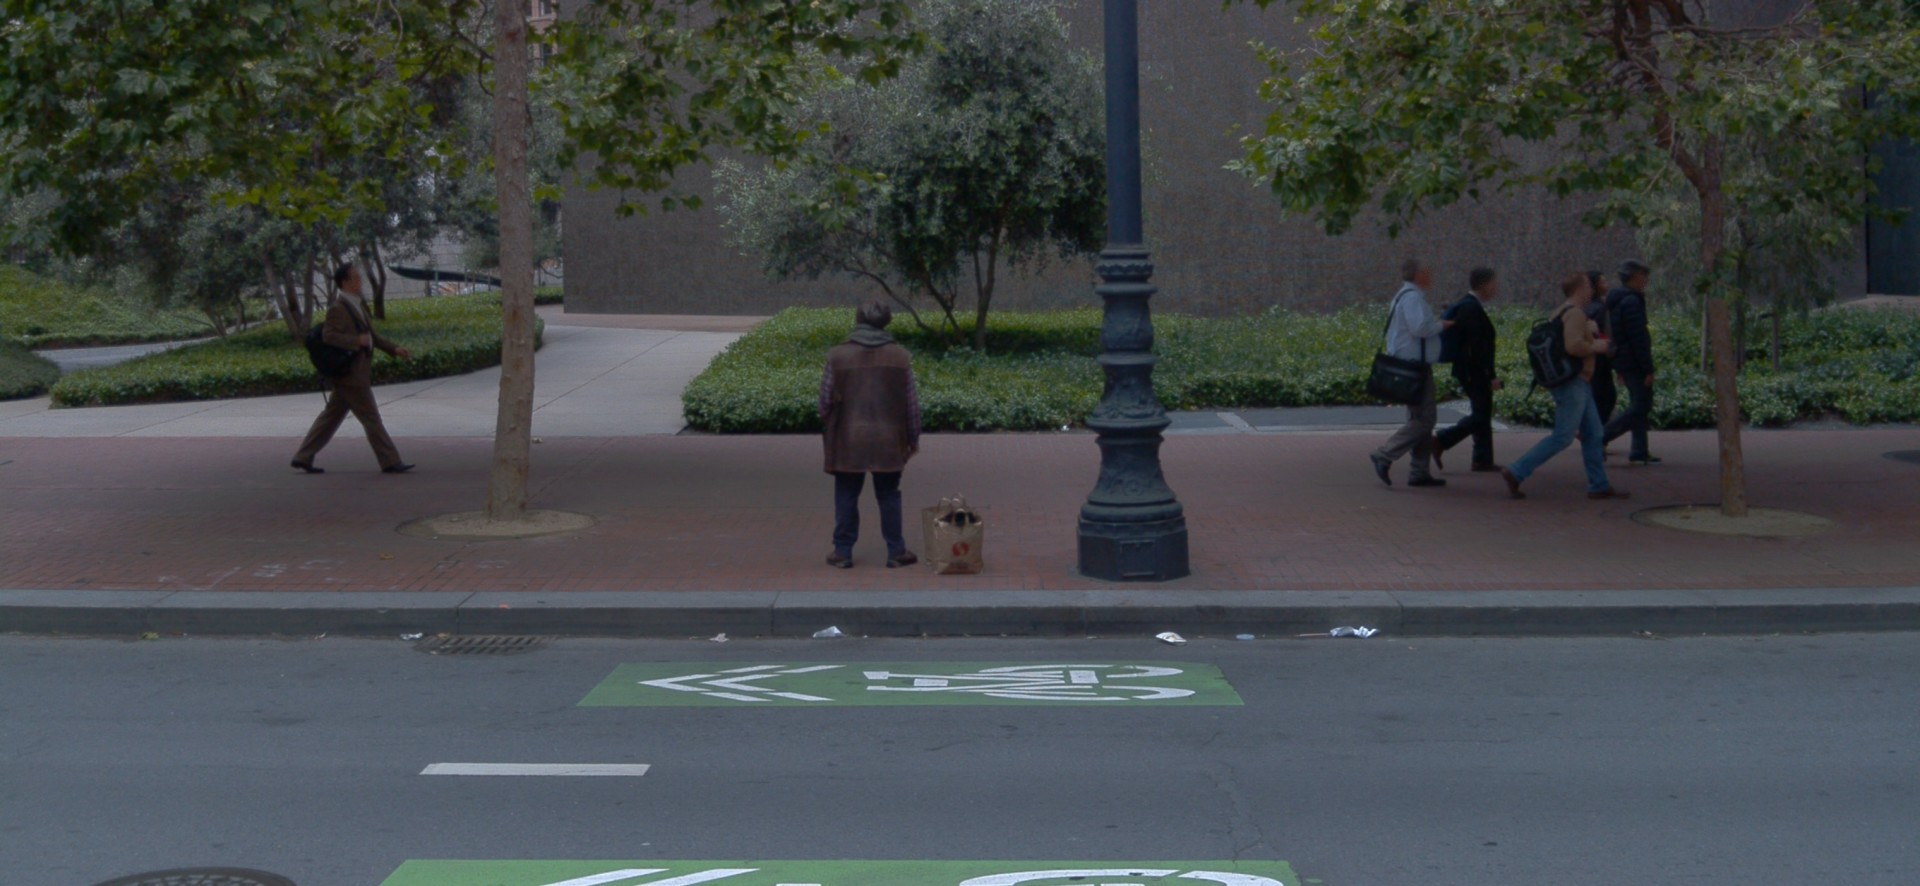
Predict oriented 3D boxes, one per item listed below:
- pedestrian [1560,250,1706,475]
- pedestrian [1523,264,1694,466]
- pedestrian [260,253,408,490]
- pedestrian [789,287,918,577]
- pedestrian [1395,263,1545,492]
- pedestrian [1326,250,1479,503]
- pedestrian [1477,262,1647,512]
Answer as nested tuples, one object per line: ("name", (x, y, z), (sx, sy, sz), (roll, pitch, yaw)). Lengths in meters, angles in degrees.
("pedestrian", (5.627, -0.700, 17.375), (0.935, 1.827, 0.894), (0, 2, 0))
("pedestrian", (5.637, -0.704, 18.068), (1.173, 1.697, 0.931), (0, 2, -2))
("pedestrian", (-5.203, -0.631, 17.280), (1.099, 1.877, 1.031), (-1, 2, -13))
("pedestrian", (-0.678, -0.094, 13.065), (0.791, 1.757, 0.642), (0, 2, -5))
("pedestrian", (4.154, -0.556, 16.925), (1.012, 1.797, 0.887), (0, 2, 1))
("pedestrian", (3.434, -0.548, 16.162), (1.013, 1.897, 0.997), (0, 2, 2))
("pedestrian", (4.539, -0.449, 15.671), (1.075, 1.827, 0.737), (0, 2, 1))
